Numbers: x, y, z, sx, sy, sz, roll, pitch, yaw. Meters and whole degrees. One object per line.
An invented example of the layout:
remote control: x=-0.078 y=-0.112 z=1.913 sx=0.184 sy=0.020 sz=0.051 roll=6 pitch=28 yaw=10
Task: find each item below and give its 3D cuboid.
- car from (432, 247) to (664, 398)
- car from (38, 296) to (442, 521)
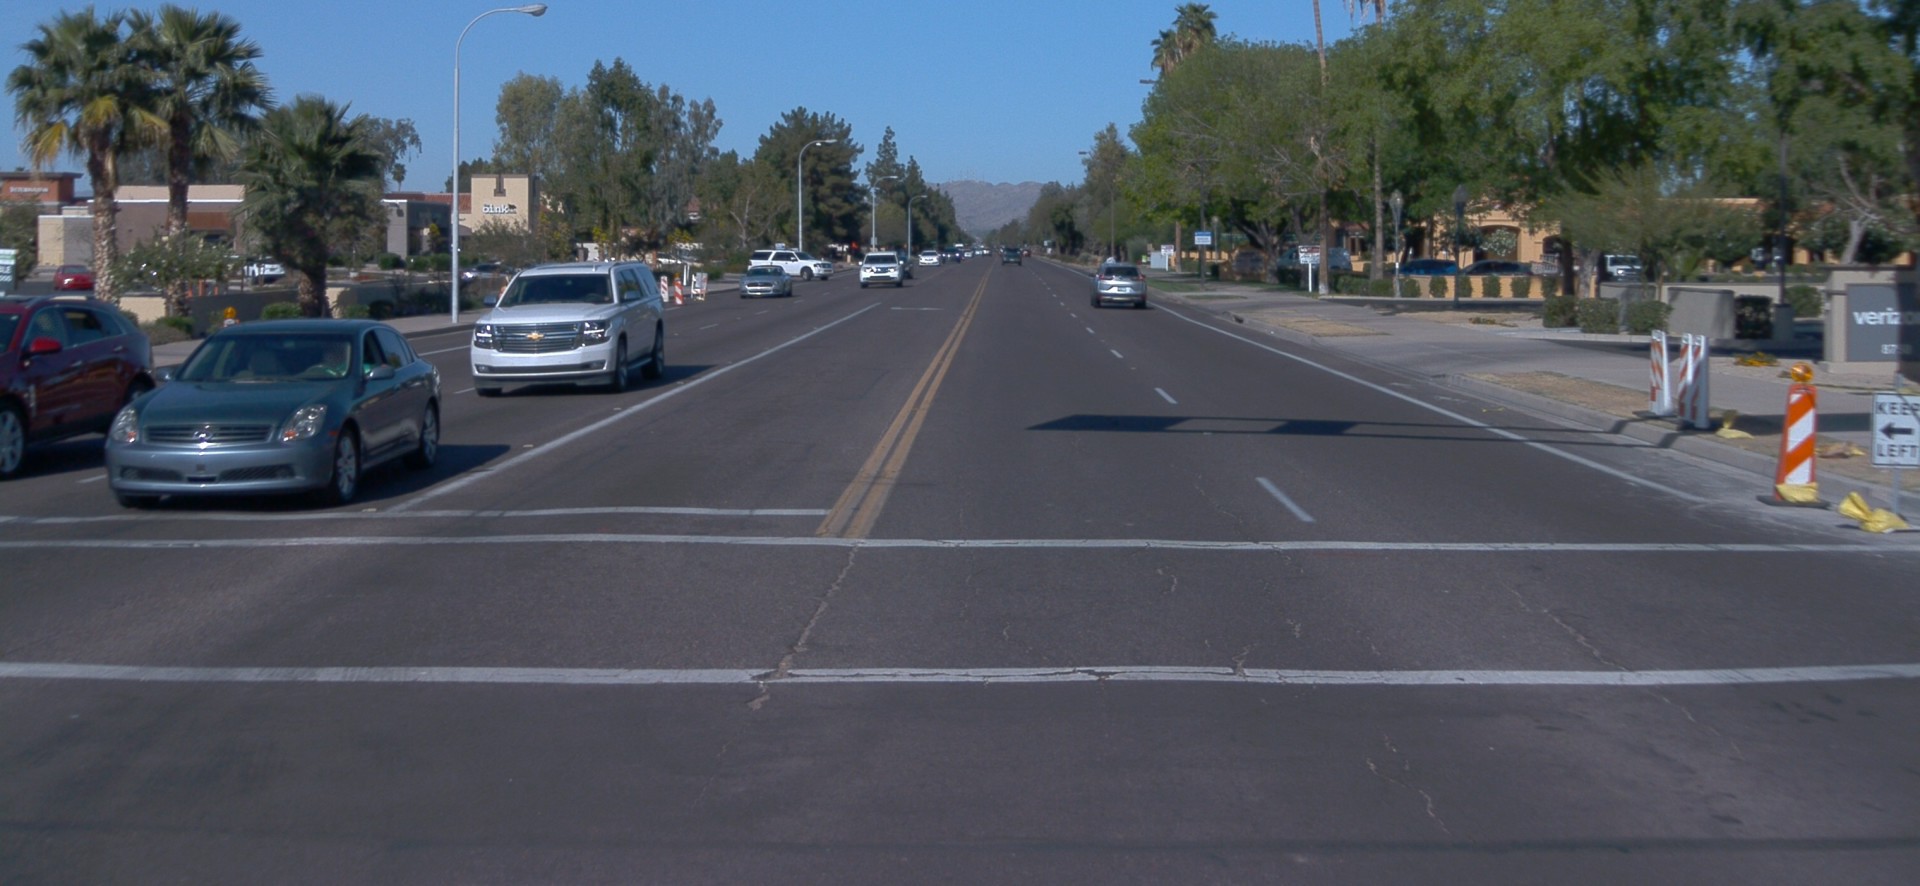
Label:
car: x=-6.105 y=-1.942 z=31.562 sx=2.271 sy=2.043 sz=5.734 roll=1 pitch=5 yaw=1
car: x=-6.052 y=-0.428 z=18.119 sx=1.995 sy=1.565 sz=4.755 roll=1 pitch=5 yaw=-2
